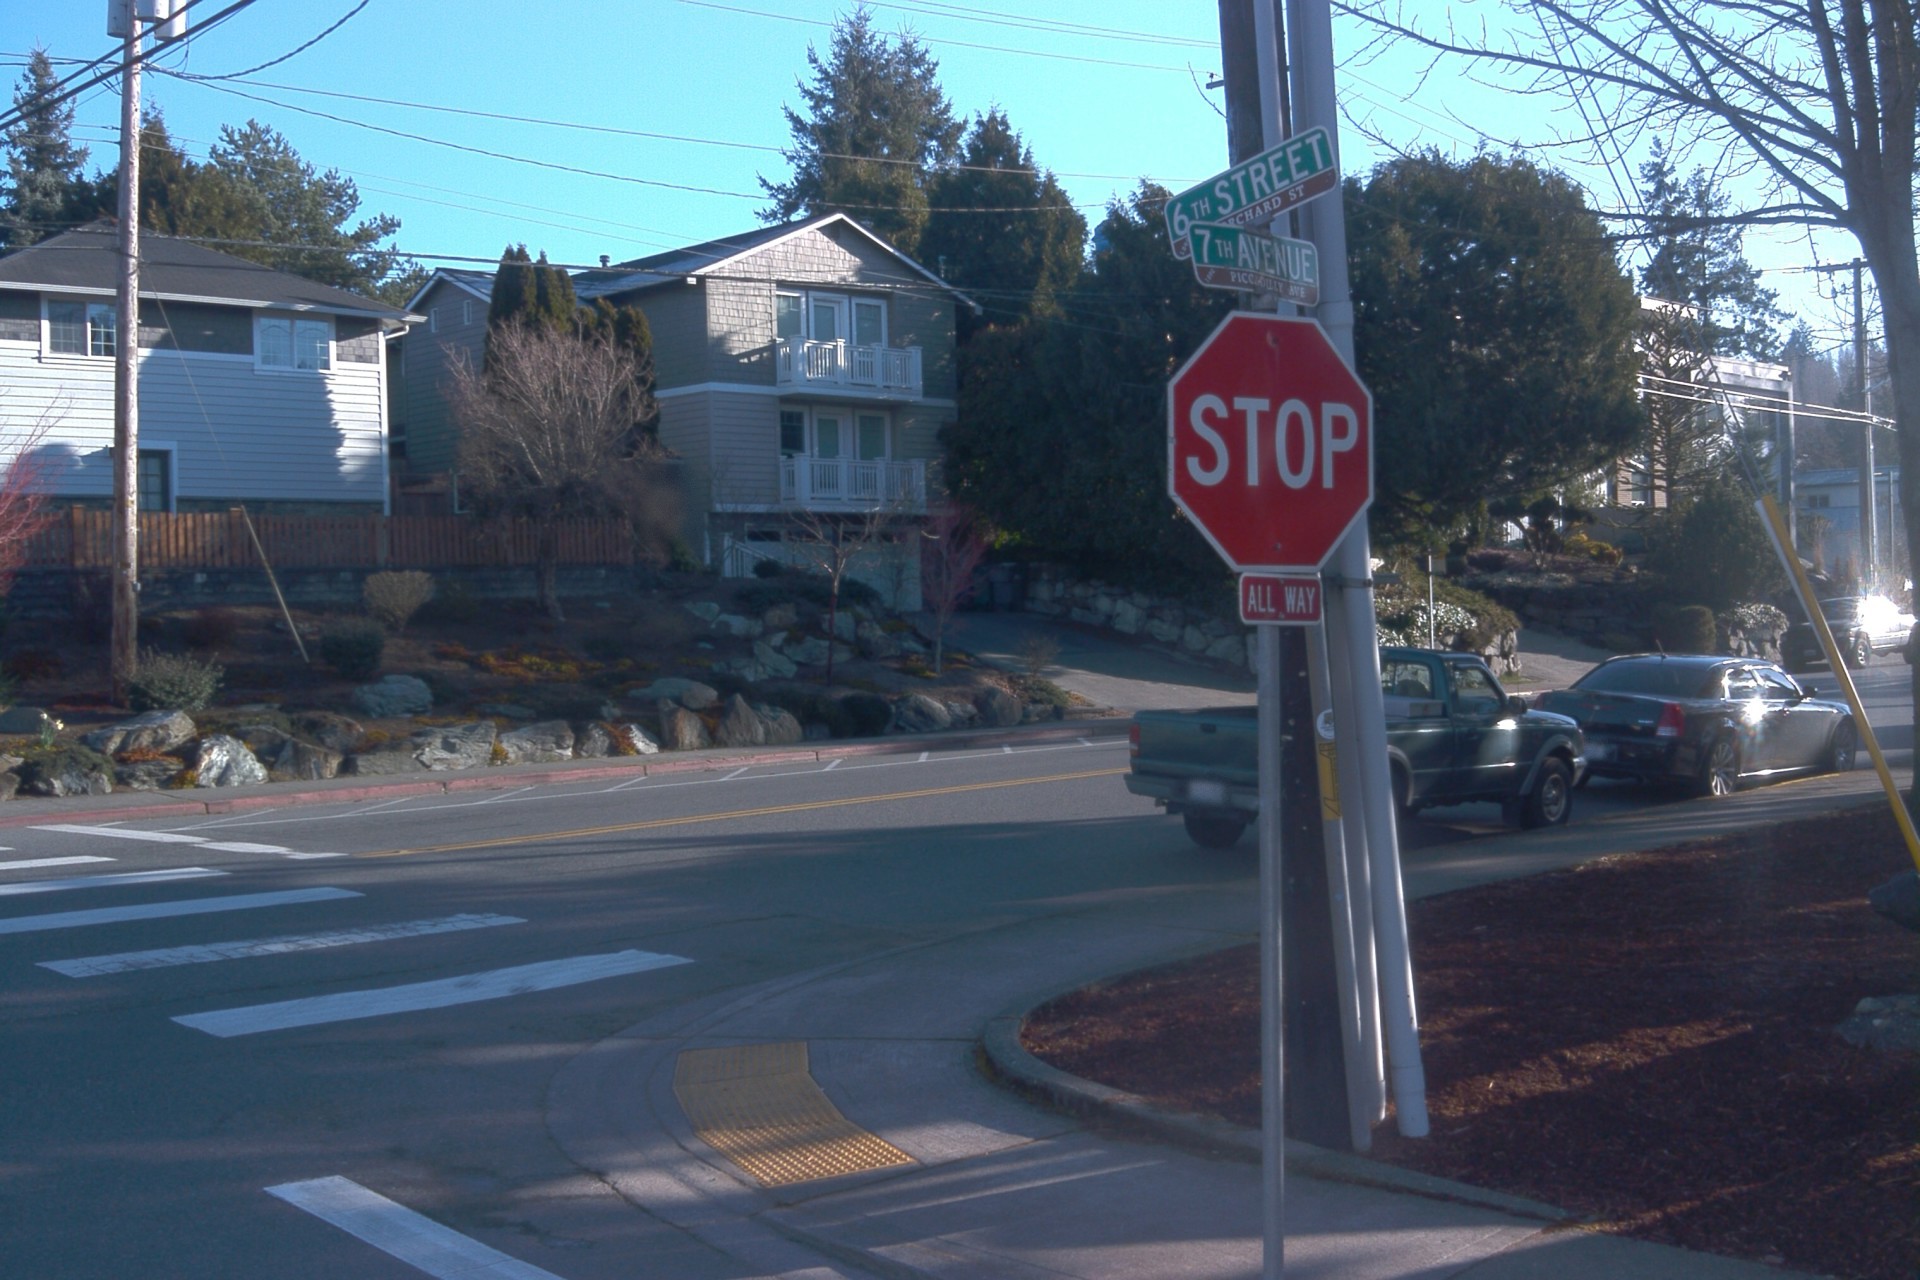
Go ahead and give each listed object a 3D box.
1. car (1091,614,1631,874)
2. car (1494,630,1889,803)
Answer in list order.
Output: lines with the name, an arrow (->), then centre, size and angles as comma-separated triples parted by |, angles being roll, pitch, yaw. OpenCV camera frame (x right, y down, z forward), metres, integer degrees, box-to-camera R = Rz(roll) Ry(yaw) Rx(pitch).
car -> 3.614, 0.756, 17.727 | 2.128, 1.920, 5.099 | 1, 1, 44
car -> 8.027, 0.731, 22.212 | 4.858, 1.660, 2.112 | 0, 1, -44
